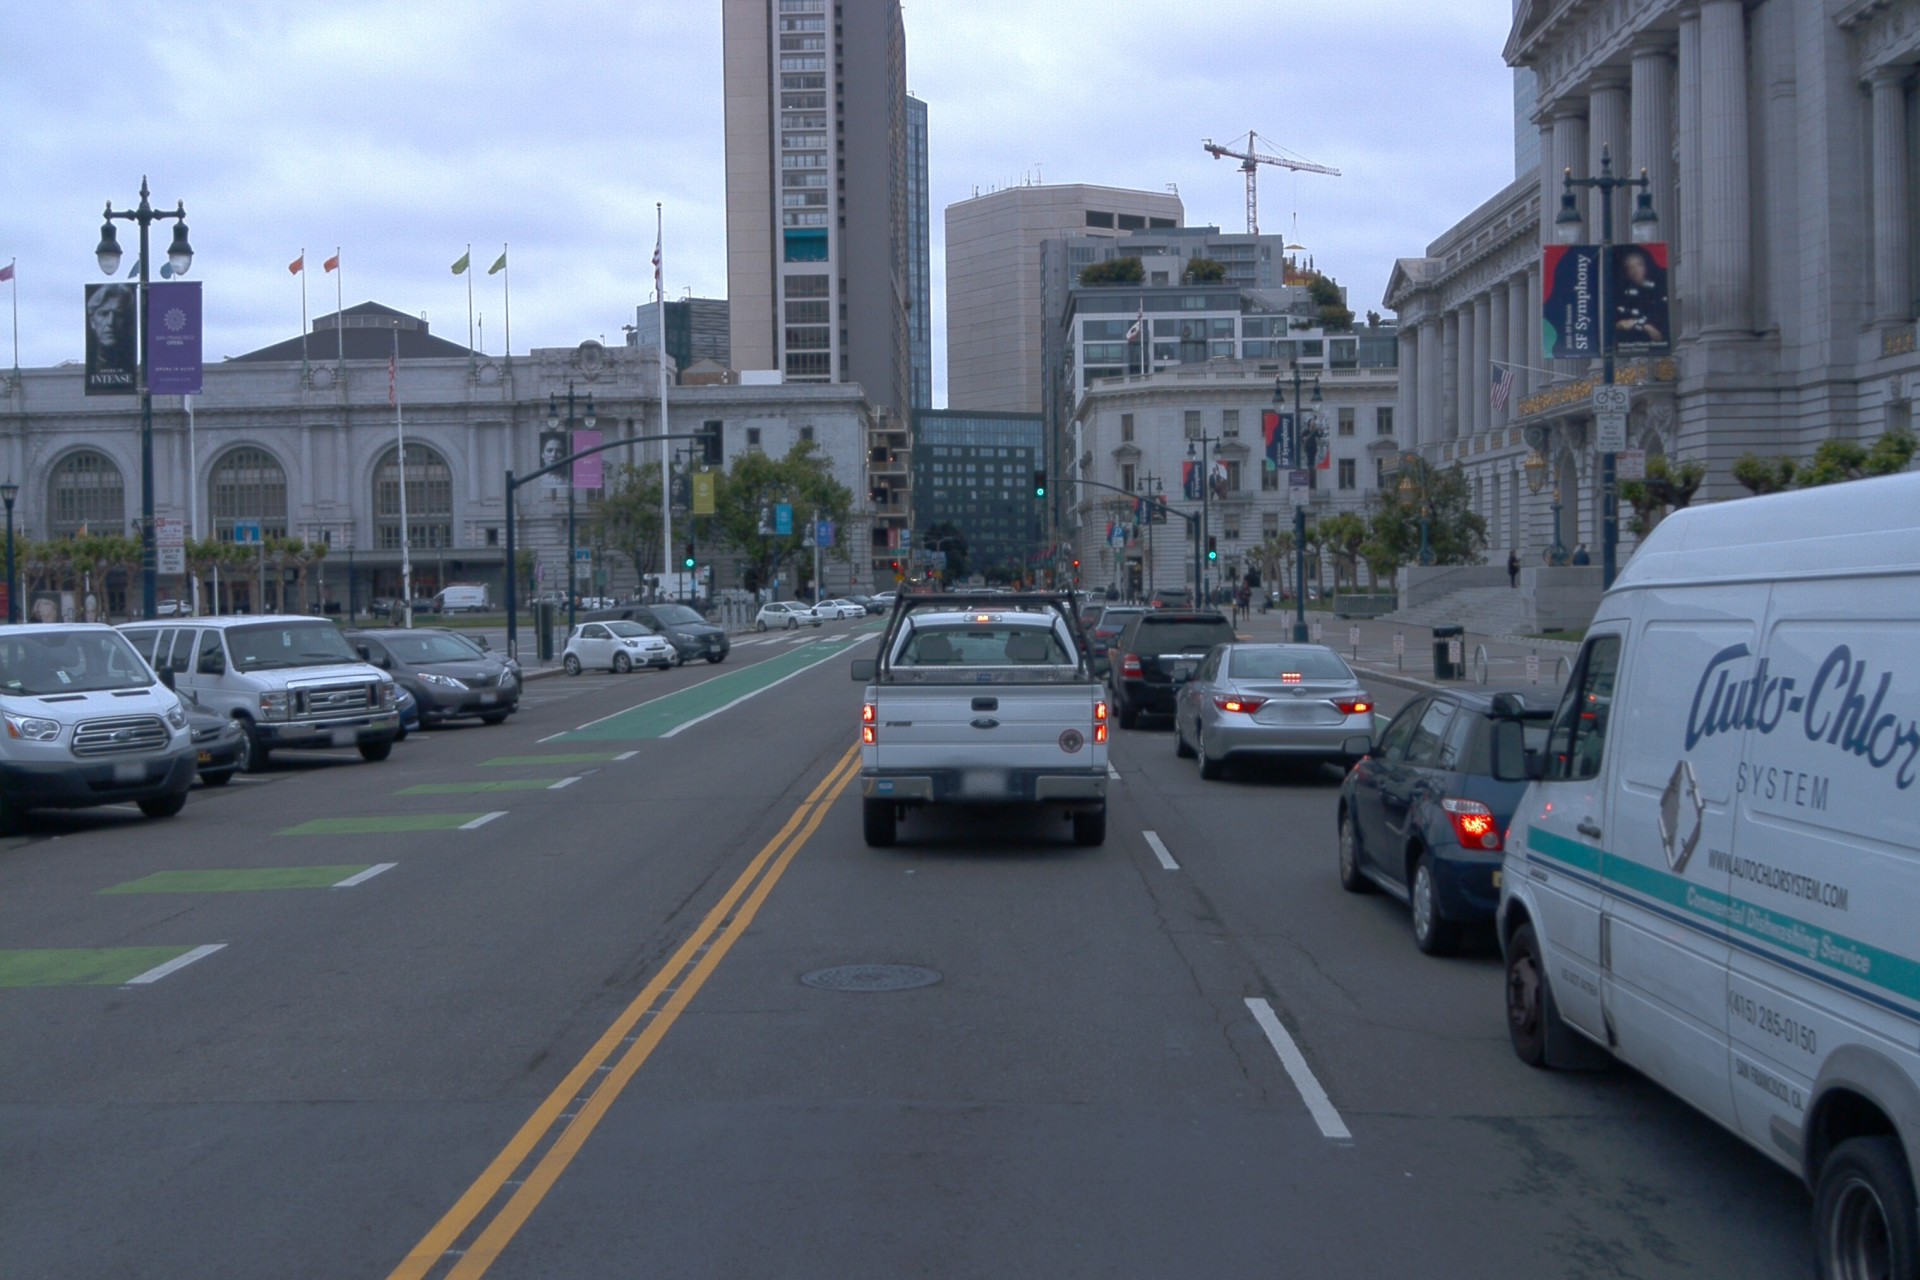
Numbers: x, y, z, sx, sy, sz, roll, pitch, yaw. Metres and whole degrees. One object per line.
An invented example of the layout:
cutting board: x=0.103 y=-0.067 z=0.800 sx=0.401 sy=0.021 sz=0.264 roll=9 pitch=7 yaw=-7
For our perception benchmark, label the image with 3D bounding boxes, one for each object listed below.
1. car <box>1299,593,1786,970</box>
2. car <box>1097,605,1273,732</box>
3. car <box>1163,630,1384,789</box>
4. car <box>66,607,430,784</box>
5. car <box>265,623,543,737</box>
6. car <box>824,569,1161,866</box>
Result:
car: x=3.411 y=0.717 z=12.893 sx=1.934 sy=1.990 sz=4.031 roll=0 pitch=1 yaw=1
car: x=3.288 y=0.352 z=31.077 sx=2.248 sy=1.750 sz=5.253 roll=0 pitch=1 yaw=2
car: x=3.407 y=0.697 z=23.162 sx=1.959 sy=1.550 sz=4.573 roll=0 pitch=1 yaw=2
car: x=-10.070 y=0.657 z=28.736 sx=2.406 sy=2.204 sz=6.135 roll=-1 pitch=1 yaw=-44
car: x=-9.694 y=0.625 z=35.664 sx=4.988 sy=1.804 sz=2.243 roll=1 pitch=1 yaw=41
car: x=0.214 y=0.534 z=17.905 sx=2.502 sy=2.200 sz=5.177 roll=0 pitch=1 yaw=-1
